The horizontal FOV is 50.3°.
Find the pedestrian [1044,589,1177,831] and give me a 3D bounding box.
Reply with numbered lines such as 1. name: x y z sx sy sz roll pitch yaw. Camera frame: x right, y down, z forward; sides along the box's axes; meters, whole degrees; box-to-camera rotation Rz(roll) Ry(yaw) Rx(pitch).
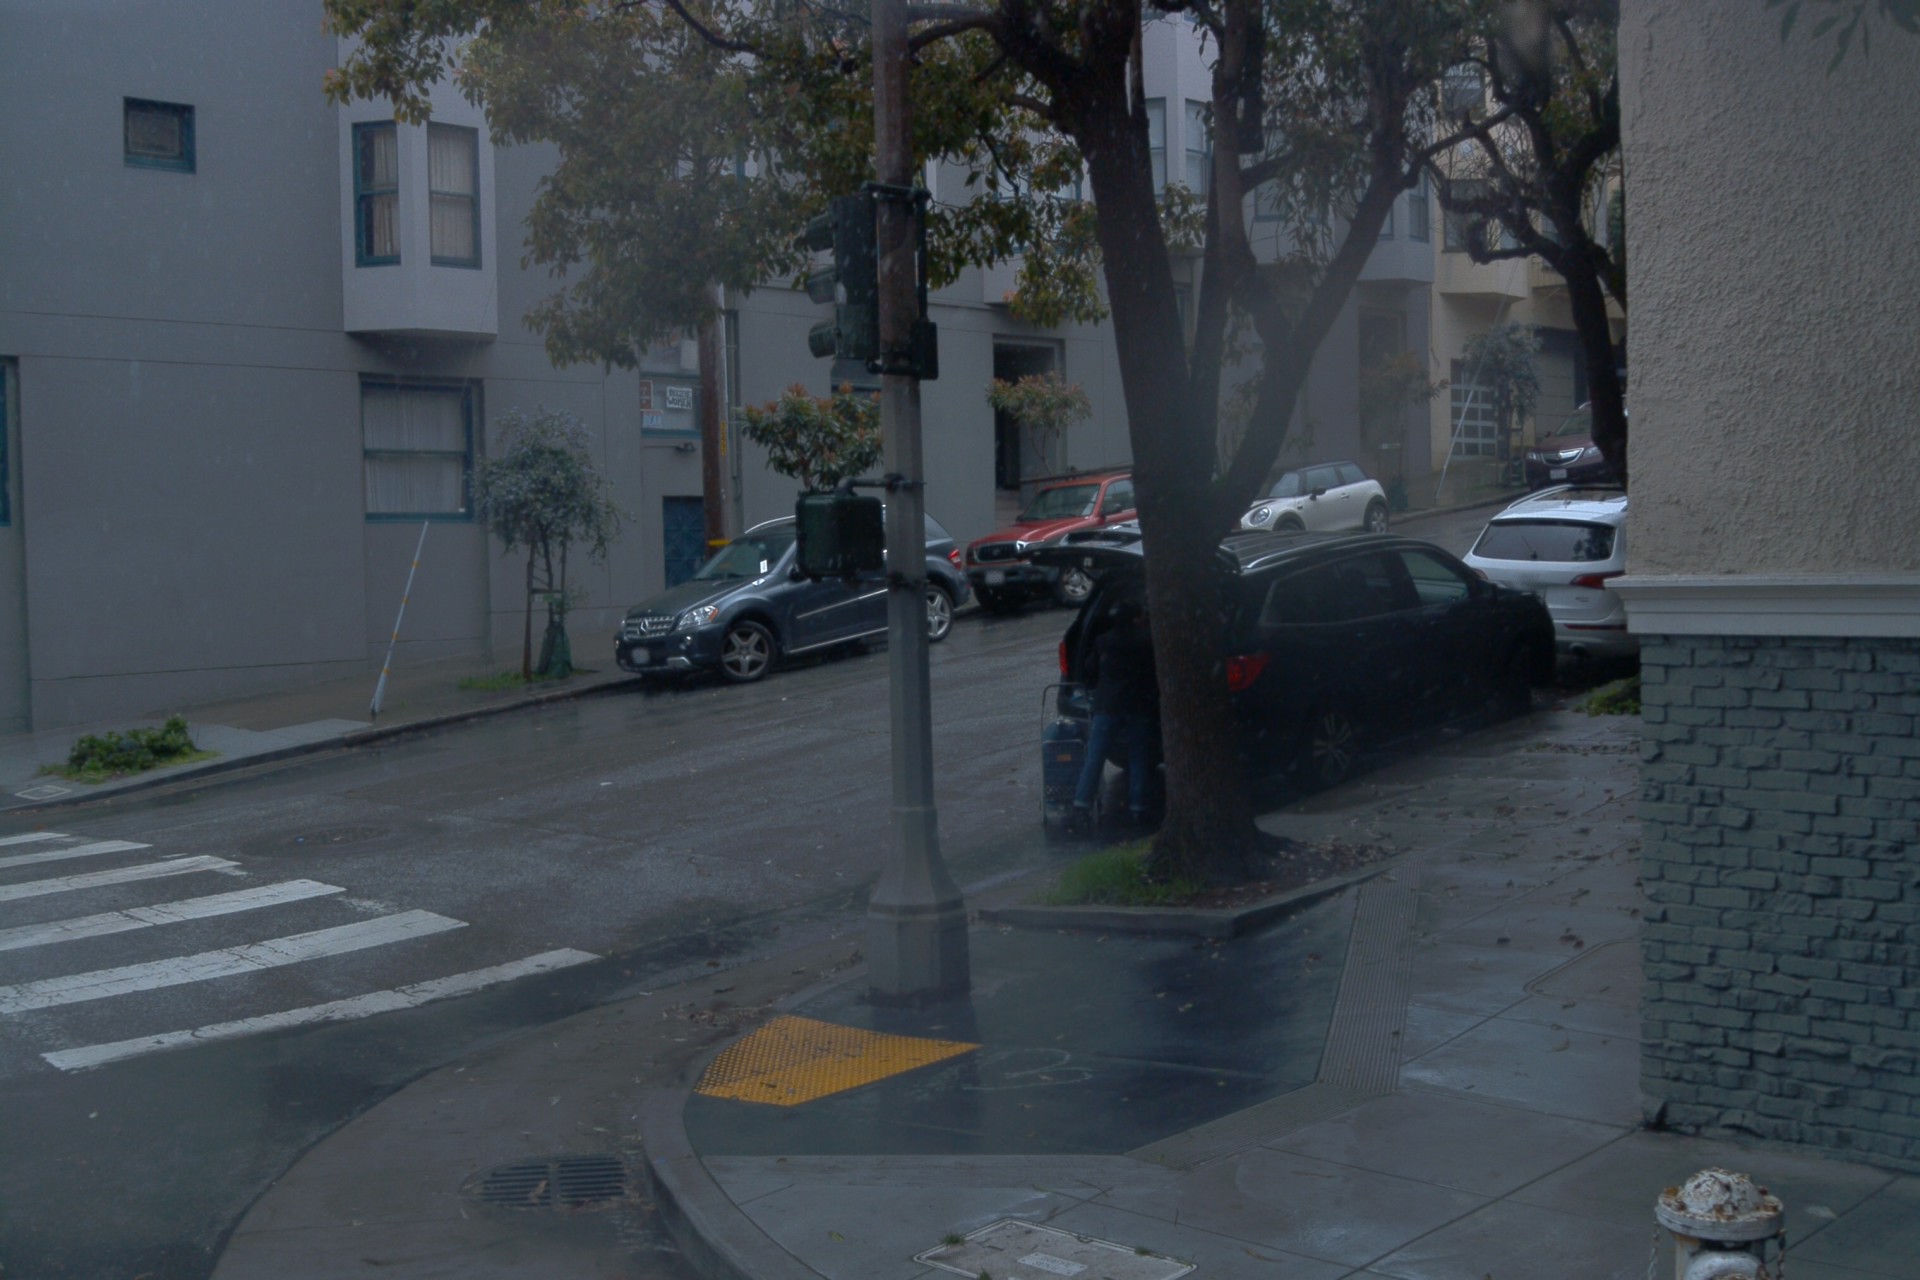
1. pedestrian: 1.069 0.475 14.324 0.793 1.634 0.885 0 0 14

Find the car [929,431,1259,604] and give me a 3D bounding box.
1. car: 1.985 -1.654 29.236 4.537 2.180 2.259 0 0 -45

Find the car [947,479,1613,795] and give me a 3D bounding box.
1. car: 2.723 -0.011 16.096 2.384 2.040 5.680 0 0 43

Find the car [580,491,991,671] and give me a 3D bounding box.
1. car: -2.049 -0.646 24.965 2.225 1.980 4.671 0 0 45

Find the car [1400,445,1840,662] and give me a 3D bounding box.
1. car: 6.523 -0.730 19.878 2.355 1.840 4.675 0 0 42
